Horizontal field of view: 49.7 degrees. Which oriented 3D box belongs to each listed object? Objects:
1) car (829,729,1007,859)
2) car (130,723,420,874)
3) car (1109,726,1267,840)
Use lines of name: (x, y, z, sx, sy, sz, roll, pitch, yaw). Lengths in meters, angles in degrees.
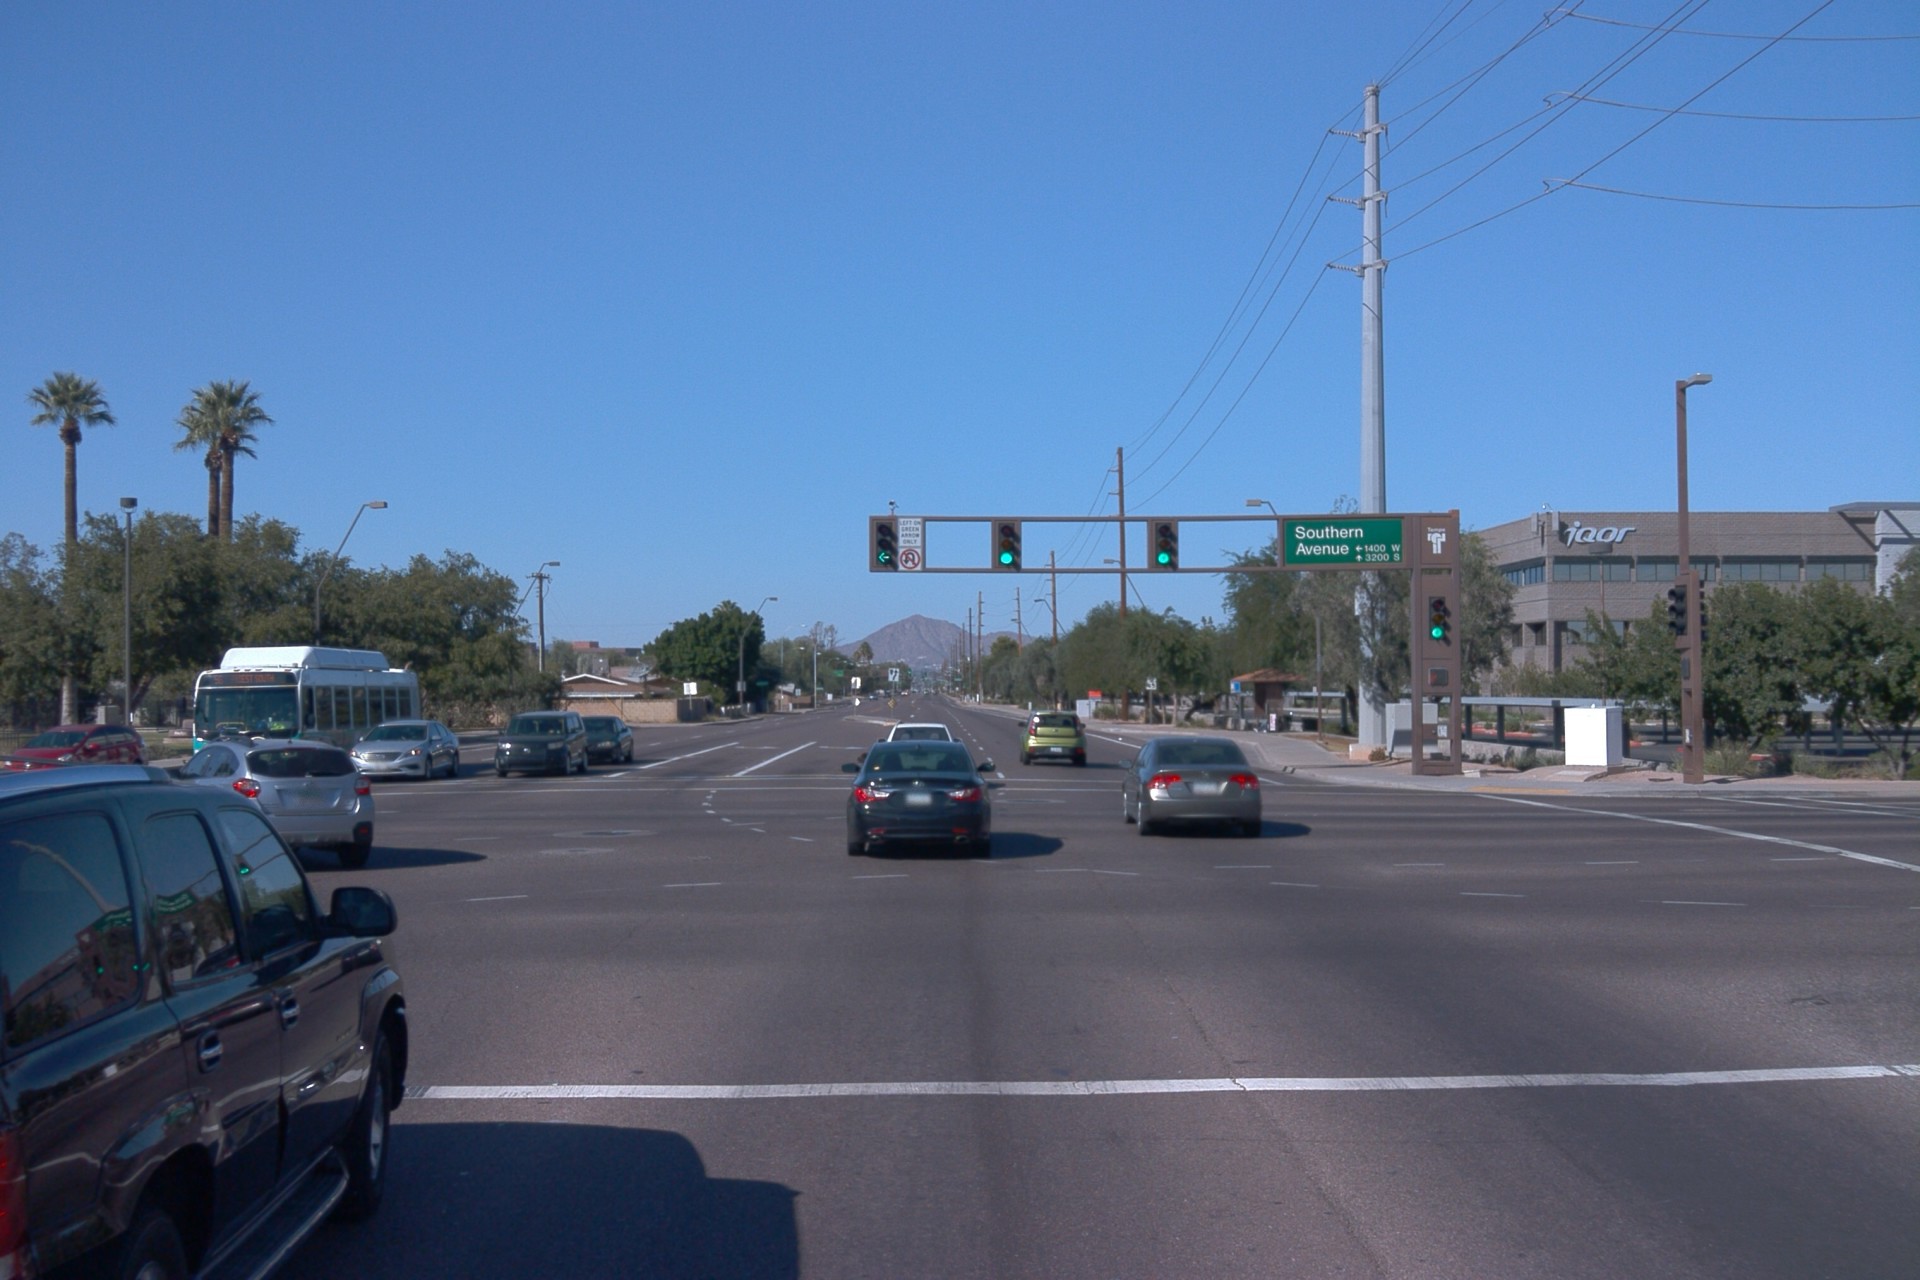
car: (-0.535, 1.979, 27.627, 2.156, 1.470, 4.806, 0, -1, -1)
car: (-8.681, 1.899, 25.990, 2.069, 1.610, 4.785, 1, -1, -36)
car: (3.371, 2.099, 31.424, 1.907, 1.500, 4.574, 0, -1, 0)
